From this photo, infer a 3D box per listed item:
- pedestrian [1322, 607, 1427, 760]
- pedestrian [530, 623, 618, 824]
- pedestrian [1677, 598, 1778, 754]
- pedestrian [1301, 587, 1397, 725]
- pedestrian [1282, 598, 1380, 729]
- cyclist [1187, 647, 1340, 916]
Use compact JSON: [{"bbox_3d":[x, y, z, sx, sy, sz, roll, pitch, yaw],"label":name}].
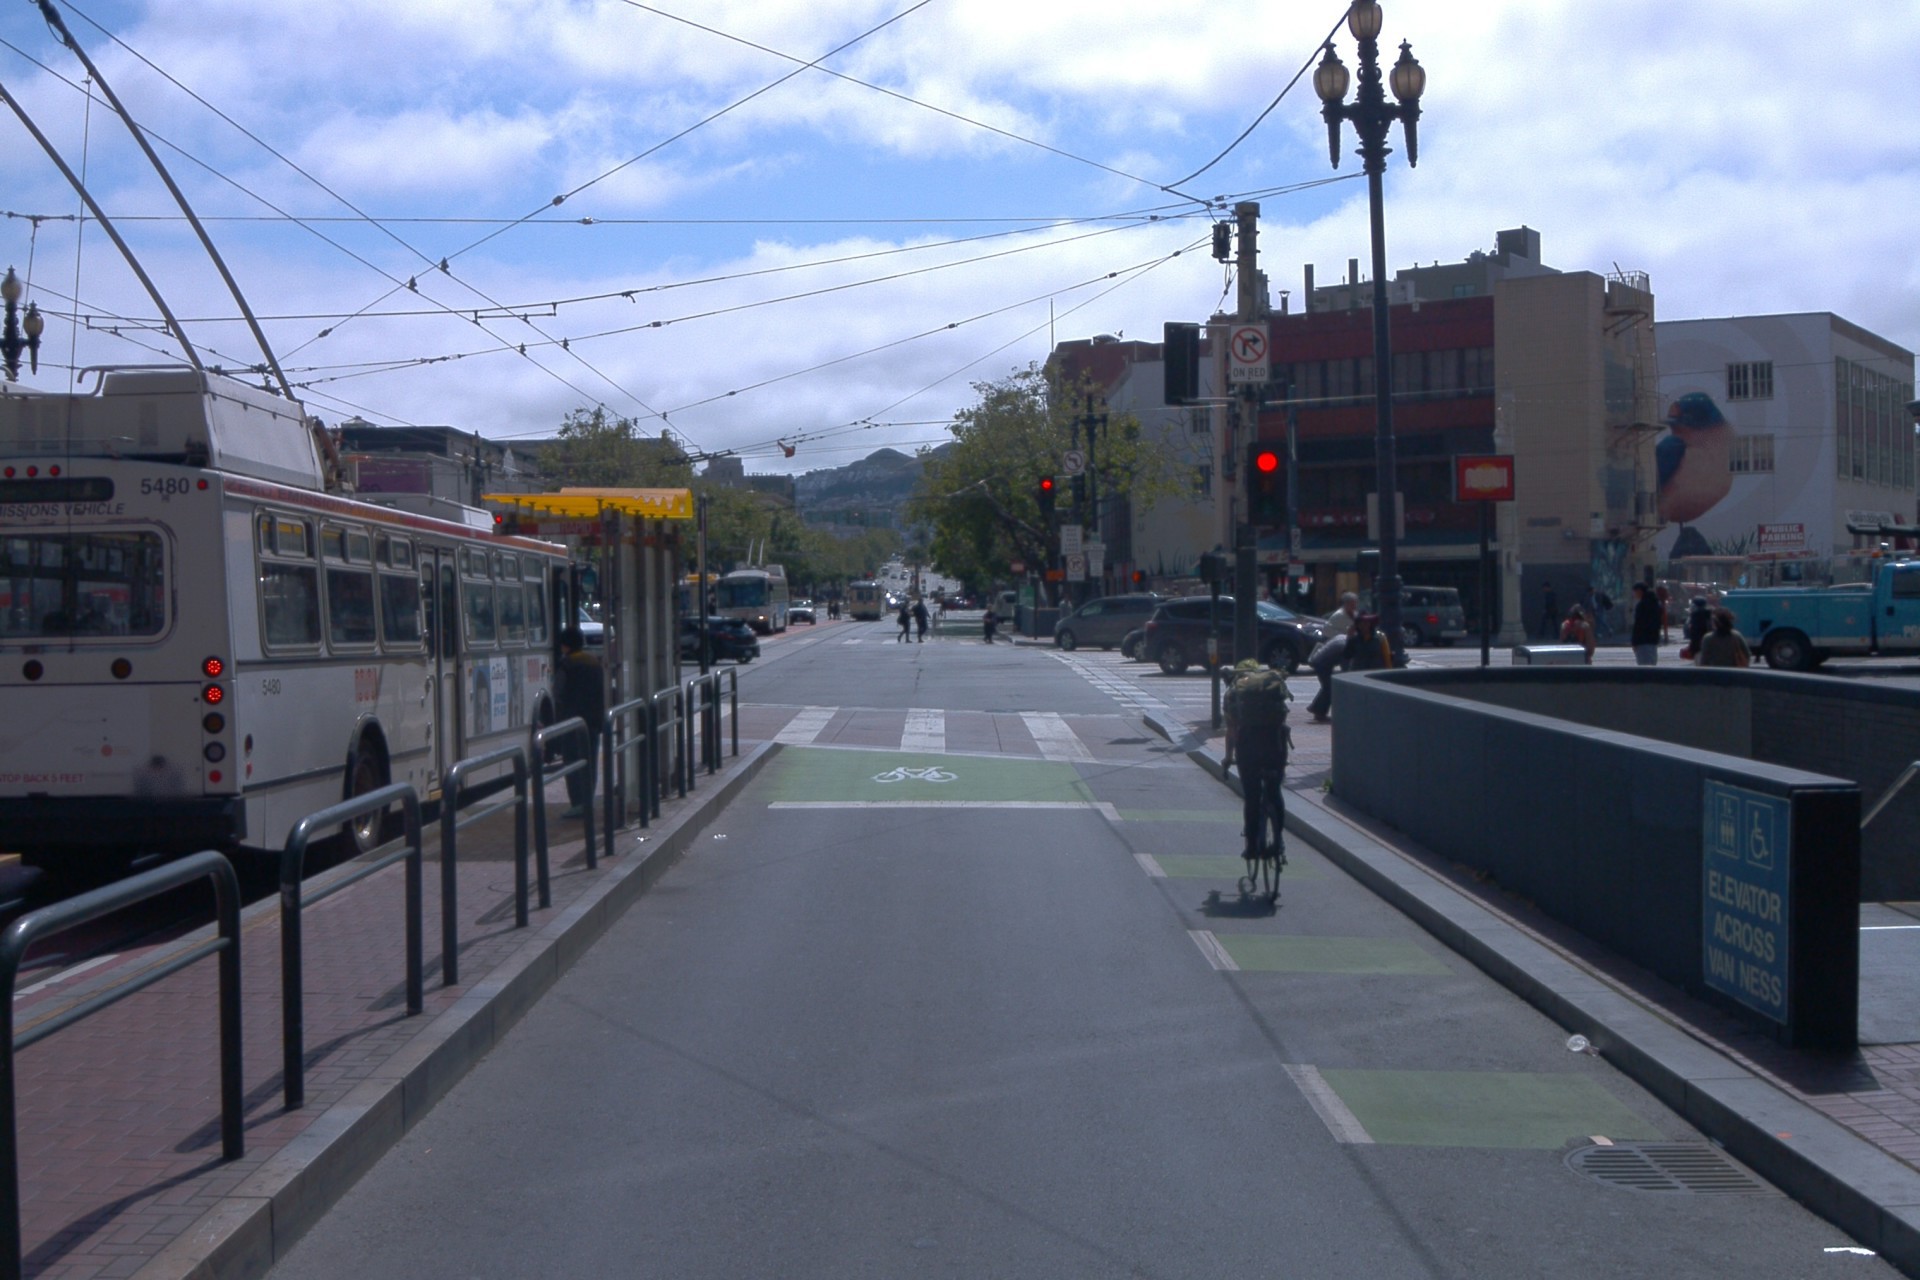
[{"bbox_3d":[4.823,0.496,23.962,1.045,1.750,0.818,0,1,-1],"label":"pedestrian"},{"bbox_3d":[-3.298,0.702,17.588,0.667,1.680,0.622,0,1,-4],"label":"pedestrian"},{"bbox_3d":[8.782,0.398,23.555,0.756,1.740,0.858,0,1,-8],"label":"pedestrian"},{"bbox_3d":[5.661,0.213,29.898,1.059,1.960,1.083,0,1,31],"label":"pedestrian"},{"bbox_3d":[5.282,0.323,29.250,1.083,1.820,0.884,0,1,37],"label":"pedestrian"},{"bbox_3d":[2.130,0.951,14.663,0.807,1.770,1.802,0,1,0],"label":"cyclist"}]
